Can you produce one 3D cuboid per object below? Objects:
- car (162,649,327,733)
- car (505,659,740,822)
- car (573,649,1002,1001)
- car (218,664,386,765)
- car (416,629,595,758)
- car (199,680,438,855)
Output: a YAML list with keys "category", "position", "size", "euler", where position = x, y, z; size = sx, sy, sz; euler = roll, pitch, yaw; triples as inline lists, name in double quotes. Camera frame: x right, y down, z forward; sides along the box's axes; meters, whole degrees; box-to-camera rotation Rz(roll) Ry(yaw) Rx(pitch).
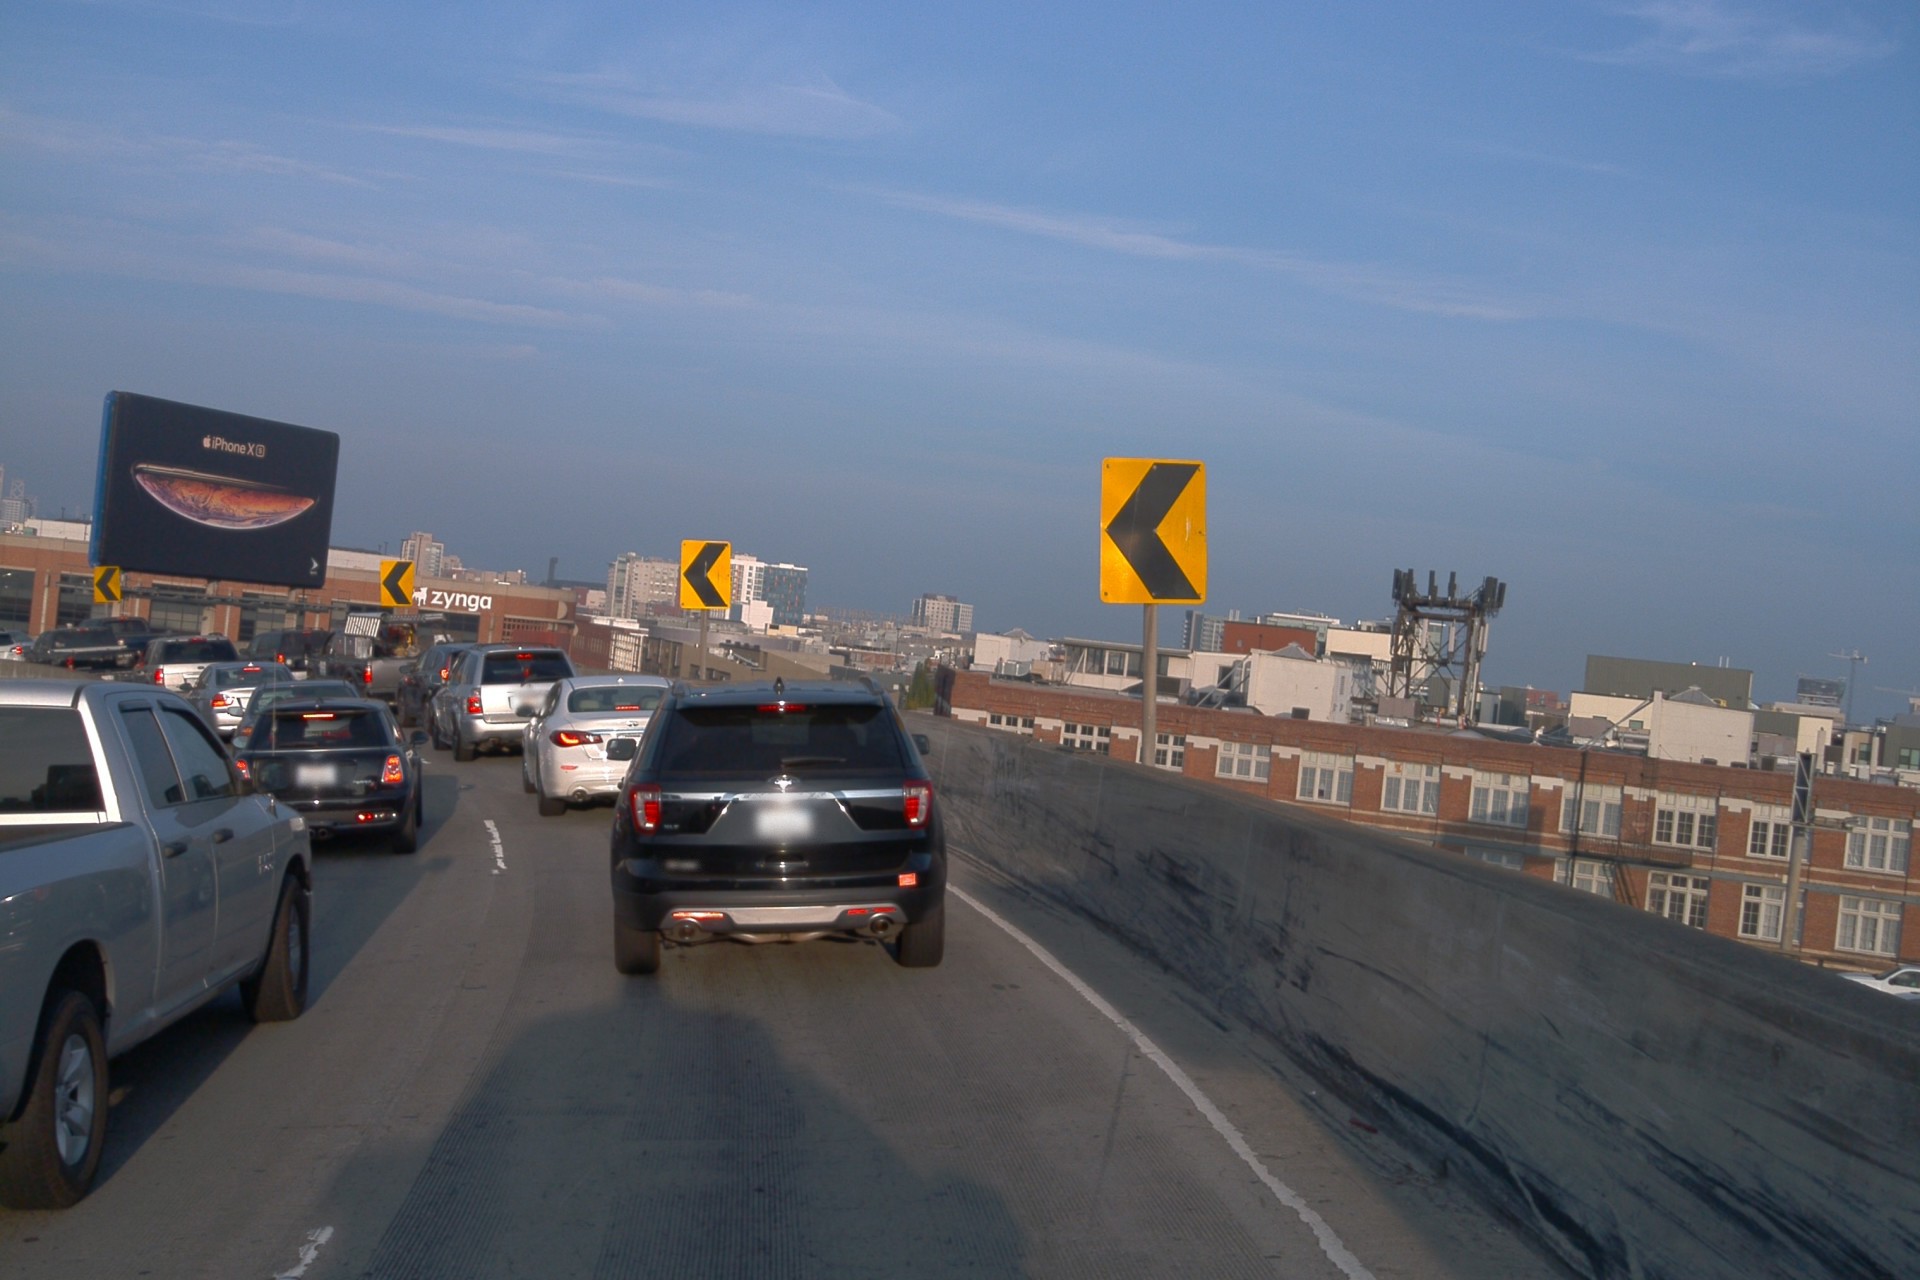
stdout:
- category: "car"
  position: [-12.544, 0.837, 35.786]
  size: [2.005, 1.310, 4.887]
  euler: [0, 0, -28]
- category: "car"
  position: [-3.951, 1.050, 23.389]
  size: [2.144, 1.590, 4.509]
  euler: [0, 0, -16]
- category: "car"
  position: [-1.250, 1.007, 13.617]
  size: [2.327, 1.850, 4.877]
  euler: [0, 0, -8]
- category: "car"
  position: [-8.728, 0.934, 27.040]
  size: [1.826, 1.160, 3.836]
  euler: [0, 0, -22]
- category: "car"
  position: [-7.057, 0.760, 31.549]
  size: [1.992, 1.820, 4.394]
  euler: [0, 0, -22]
- category: "car"
  position: [-6.132, 1.154, 20.031]
  size: [1.934, 1.411, 4.084]
  euler: [0, 0, -13]
